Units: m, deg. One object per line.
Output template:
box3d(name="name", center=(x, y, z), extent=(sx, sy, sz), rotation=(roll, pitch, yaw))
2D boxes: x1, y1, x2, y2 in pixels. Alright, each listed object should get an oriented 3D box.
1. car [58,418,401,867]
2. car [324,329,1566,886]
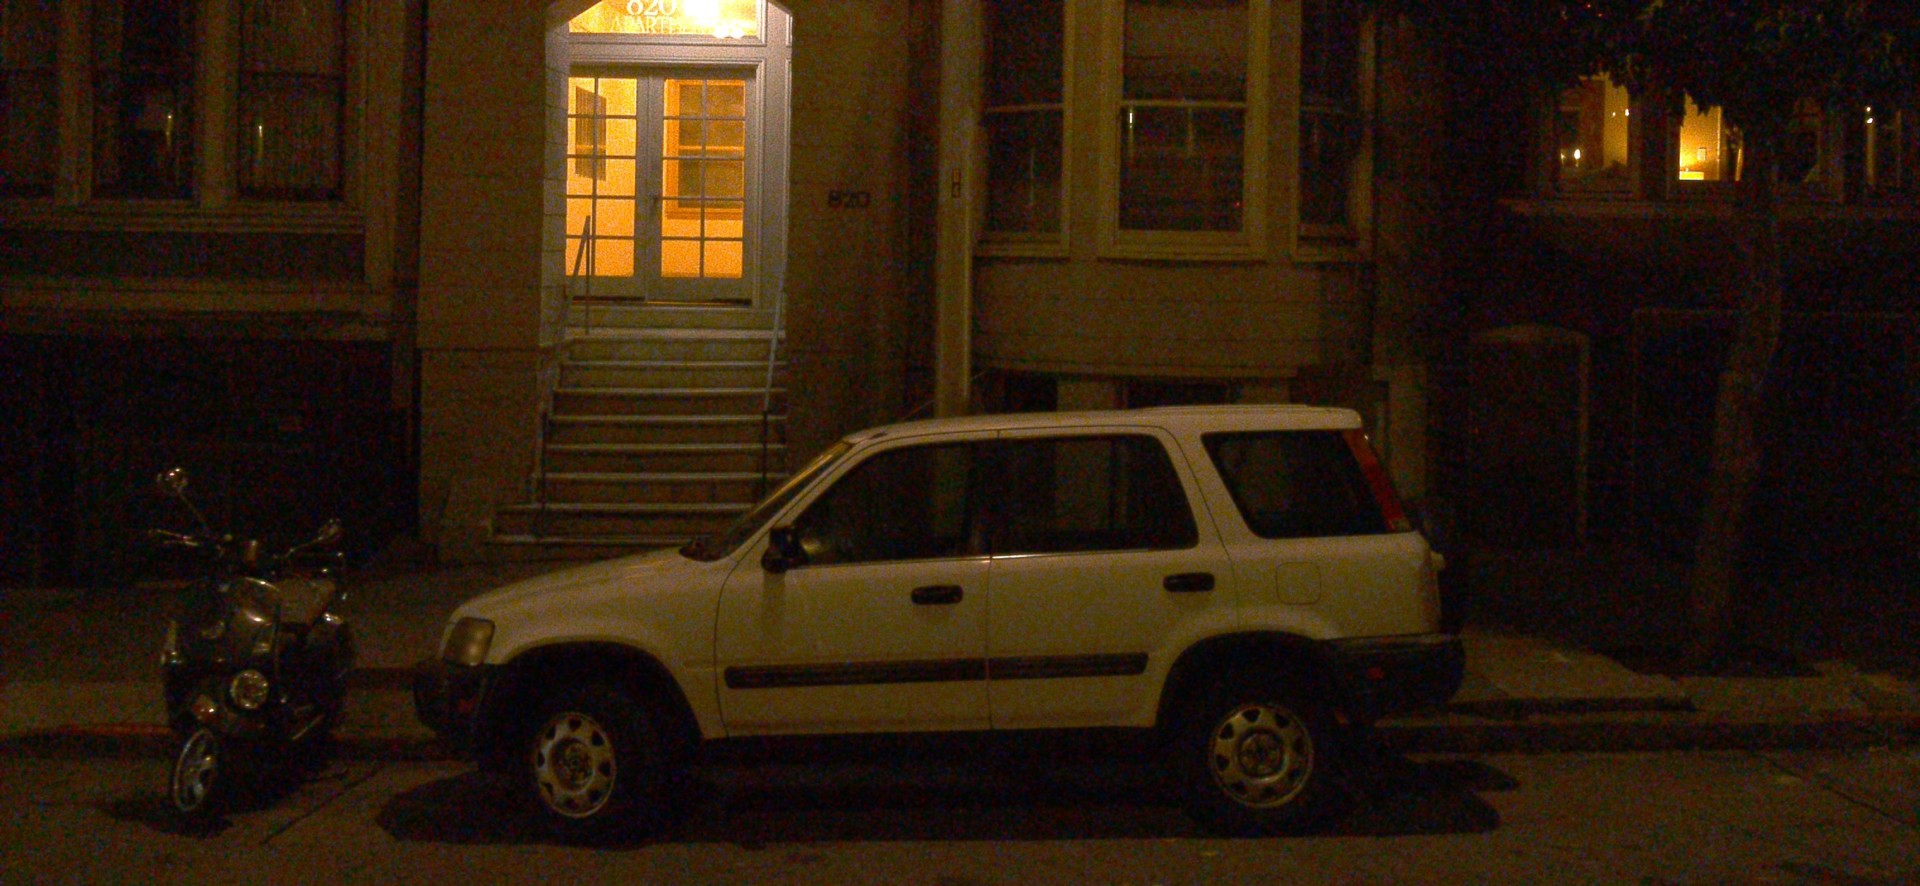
box3d(name="car", center=(-3.082, 0.759, 8.871), extent=(0.789, 1.523, 1.936), rotation=(0, 5, -1))
box3d(name="car", center=(-0.051, 0.561, 8.732), extent=(4.652, 1.932, 2.081), rotation=(0, 5, -1))
